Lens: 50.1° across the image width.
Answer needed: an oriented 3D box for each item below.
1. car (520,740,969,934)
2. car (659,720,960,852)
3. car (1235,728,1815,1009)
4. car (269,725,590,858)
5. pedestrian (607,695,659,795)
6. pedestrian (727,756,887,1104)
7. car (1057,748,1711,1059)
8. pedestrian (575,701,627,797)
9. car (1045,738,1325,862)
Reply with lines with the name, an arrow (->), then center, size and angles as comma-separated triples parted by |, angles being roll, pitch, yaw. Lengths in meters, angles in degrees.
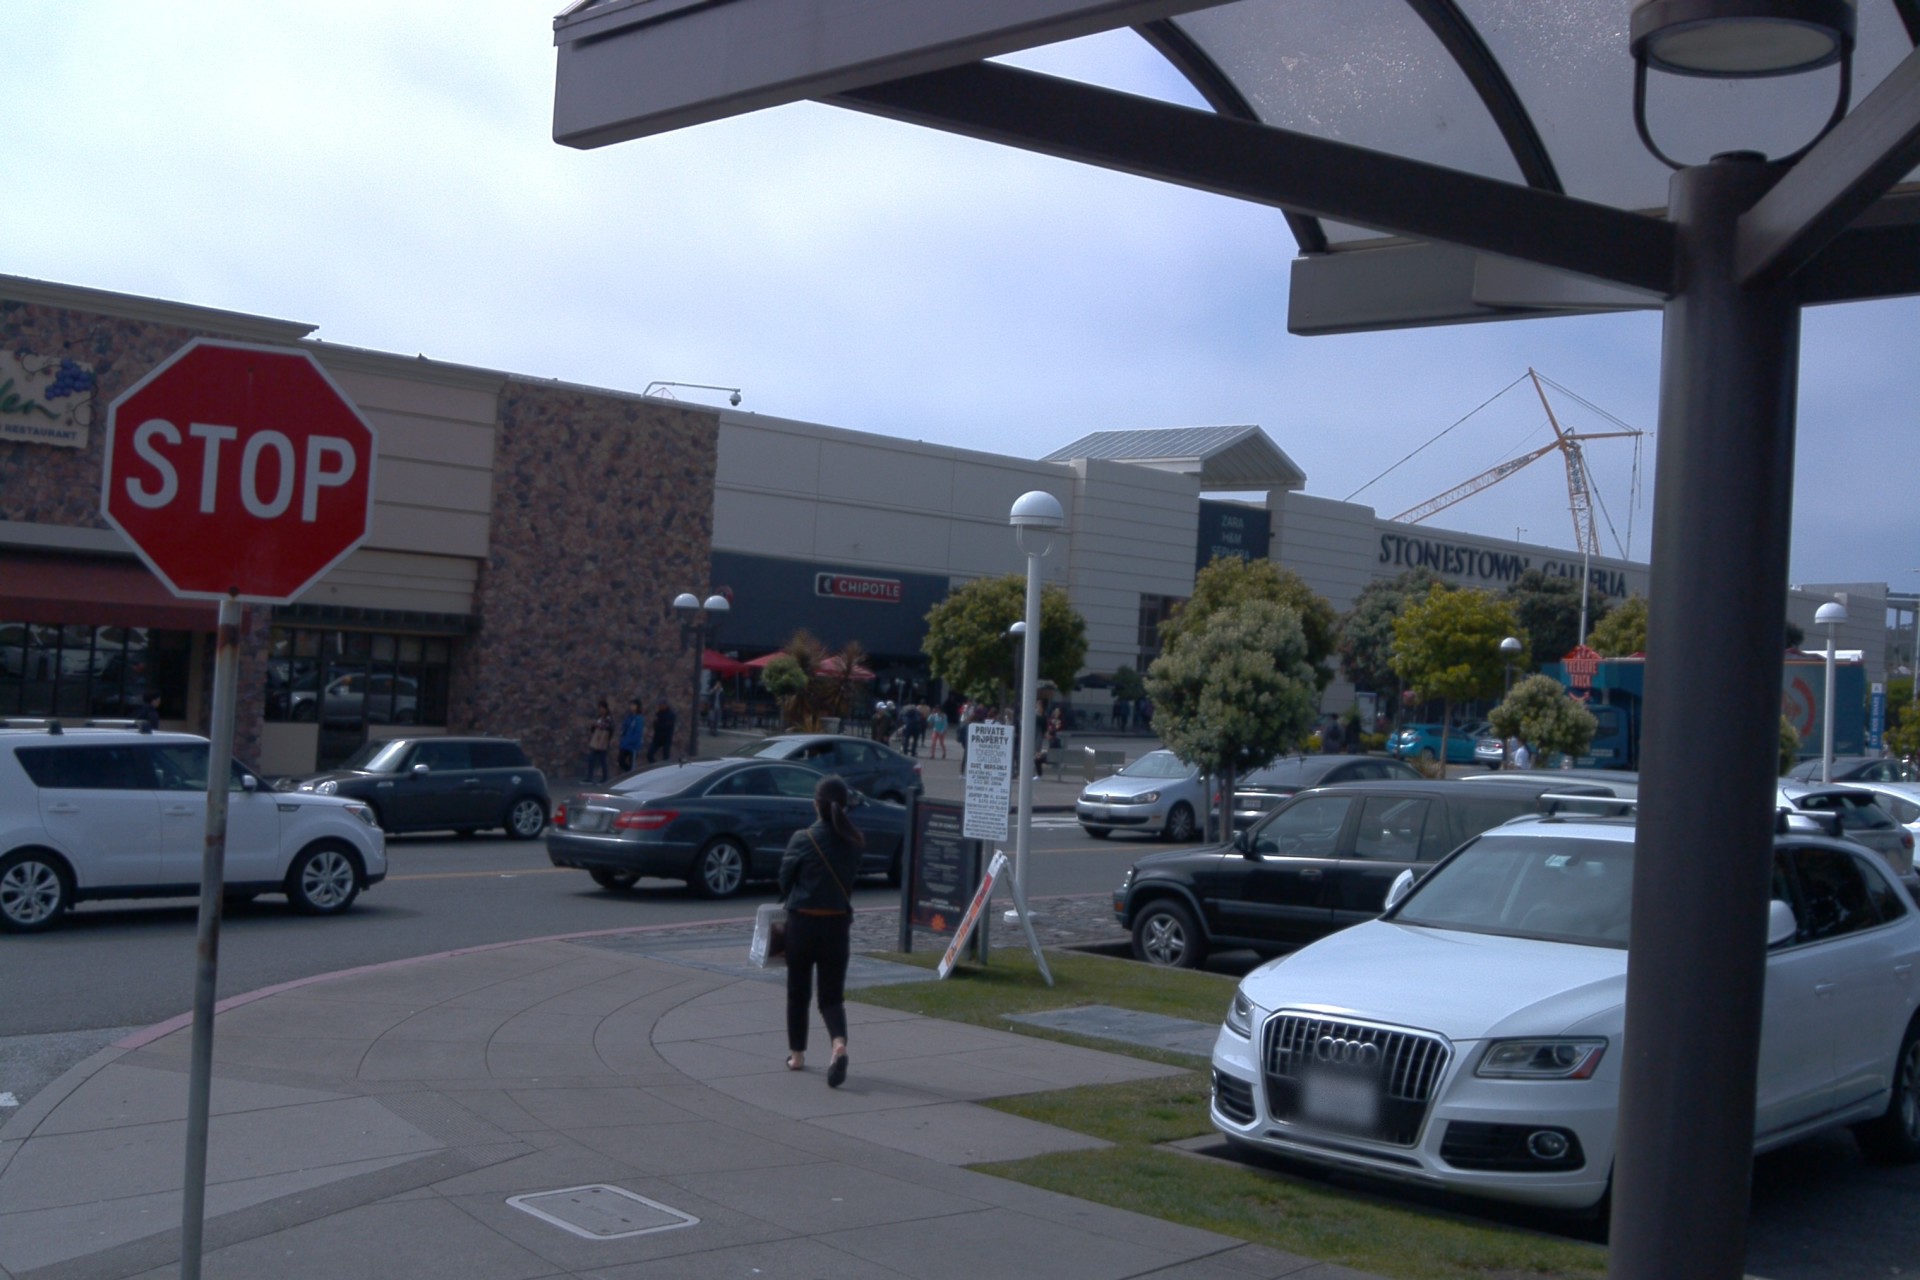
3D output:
car -> -2.135, 1.944, 21.420 | 1.963, 1.530, 4.466 | 0, 1, 43
car -> -2.226, 2.147, 31.316 | 1.938, 1.640, 4.407 | 0, 1, 43
car -> 4.842, 1.850, 18.085 | 2.035, 1.910, 4.506 | -1, 1, -44
car -> -6.968, 1.941, 27.187 | 3.678, 1.422, 1.848 | -1, 1, -43
pedestrian -> -6.034, 1.924, 37.967 | 0.727, 1.780, 0.618 | 0, 0, 40
pedestrian -> -0.760, 1.385, 10.071 | 0.628, 1.570, 0.741 | 0, 0, -17
car -> 3.150, 1.863, 15.908 | 4.555, 1.780, 2.041 | 0, 1, 43
pedestrian -> -6.649, 2.018, 38.117 | 0.727, 1.720, 0.618 | 0, 0, 40
car -> 3.651, 2.484, 32.810 | 4.517, 1.570, 2.056 | -1, 1, -45
